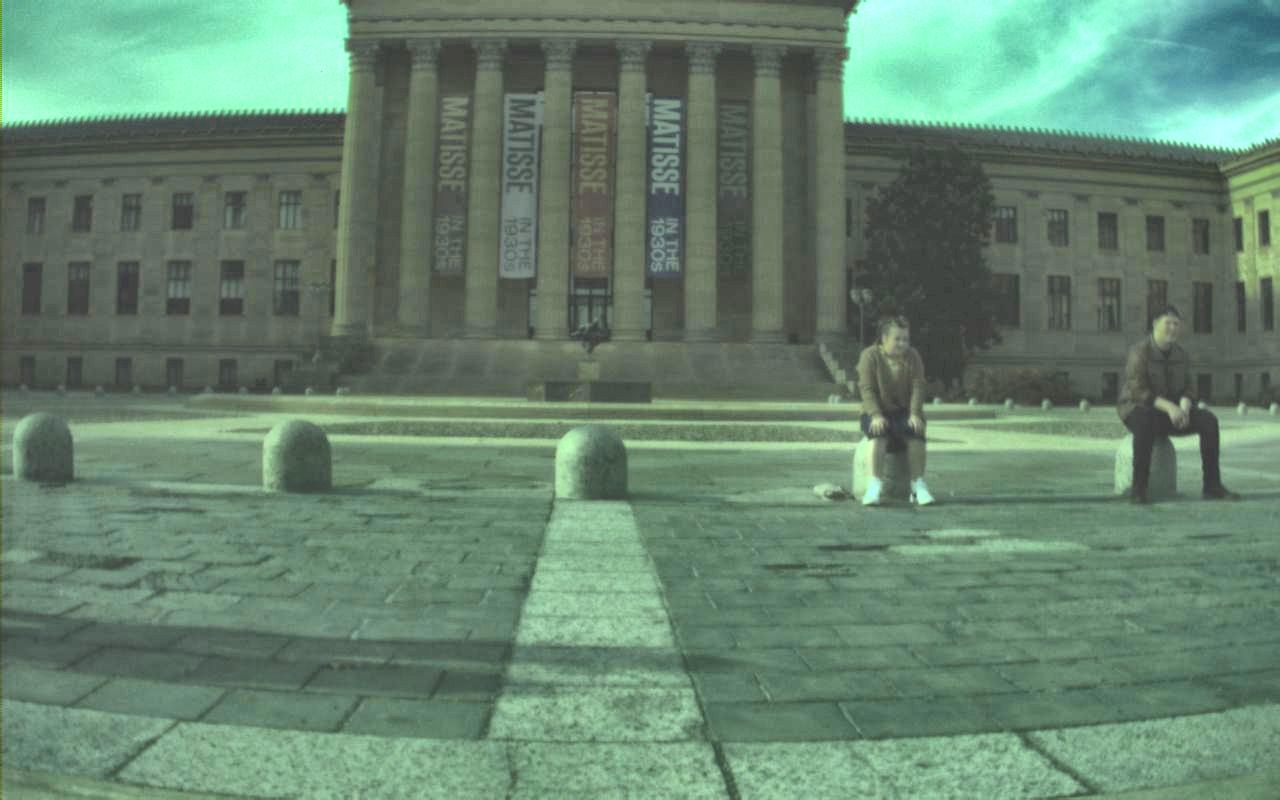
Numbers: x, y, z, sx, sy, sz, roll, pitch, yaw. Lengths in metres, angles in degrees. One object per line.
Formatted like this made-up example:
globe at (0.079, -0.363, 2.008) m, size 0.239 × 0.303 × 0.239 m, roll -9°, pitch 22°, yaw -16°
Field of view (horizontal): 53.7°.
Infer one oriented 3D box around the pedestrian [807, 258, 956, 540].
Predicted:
pedestrian at (1.548, -0.012, 7.906) m, size 0.706 × 1.692 × 0.719 m, roll 1°, pitch 0°, yaw 35°

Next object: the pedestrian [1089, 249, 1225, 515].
pedestrian at (3.494, -0.107, 7.943) m, size 0.744 × 1.705 × 0.766 m, roll 0°, pitch 0°, yaw 3°
